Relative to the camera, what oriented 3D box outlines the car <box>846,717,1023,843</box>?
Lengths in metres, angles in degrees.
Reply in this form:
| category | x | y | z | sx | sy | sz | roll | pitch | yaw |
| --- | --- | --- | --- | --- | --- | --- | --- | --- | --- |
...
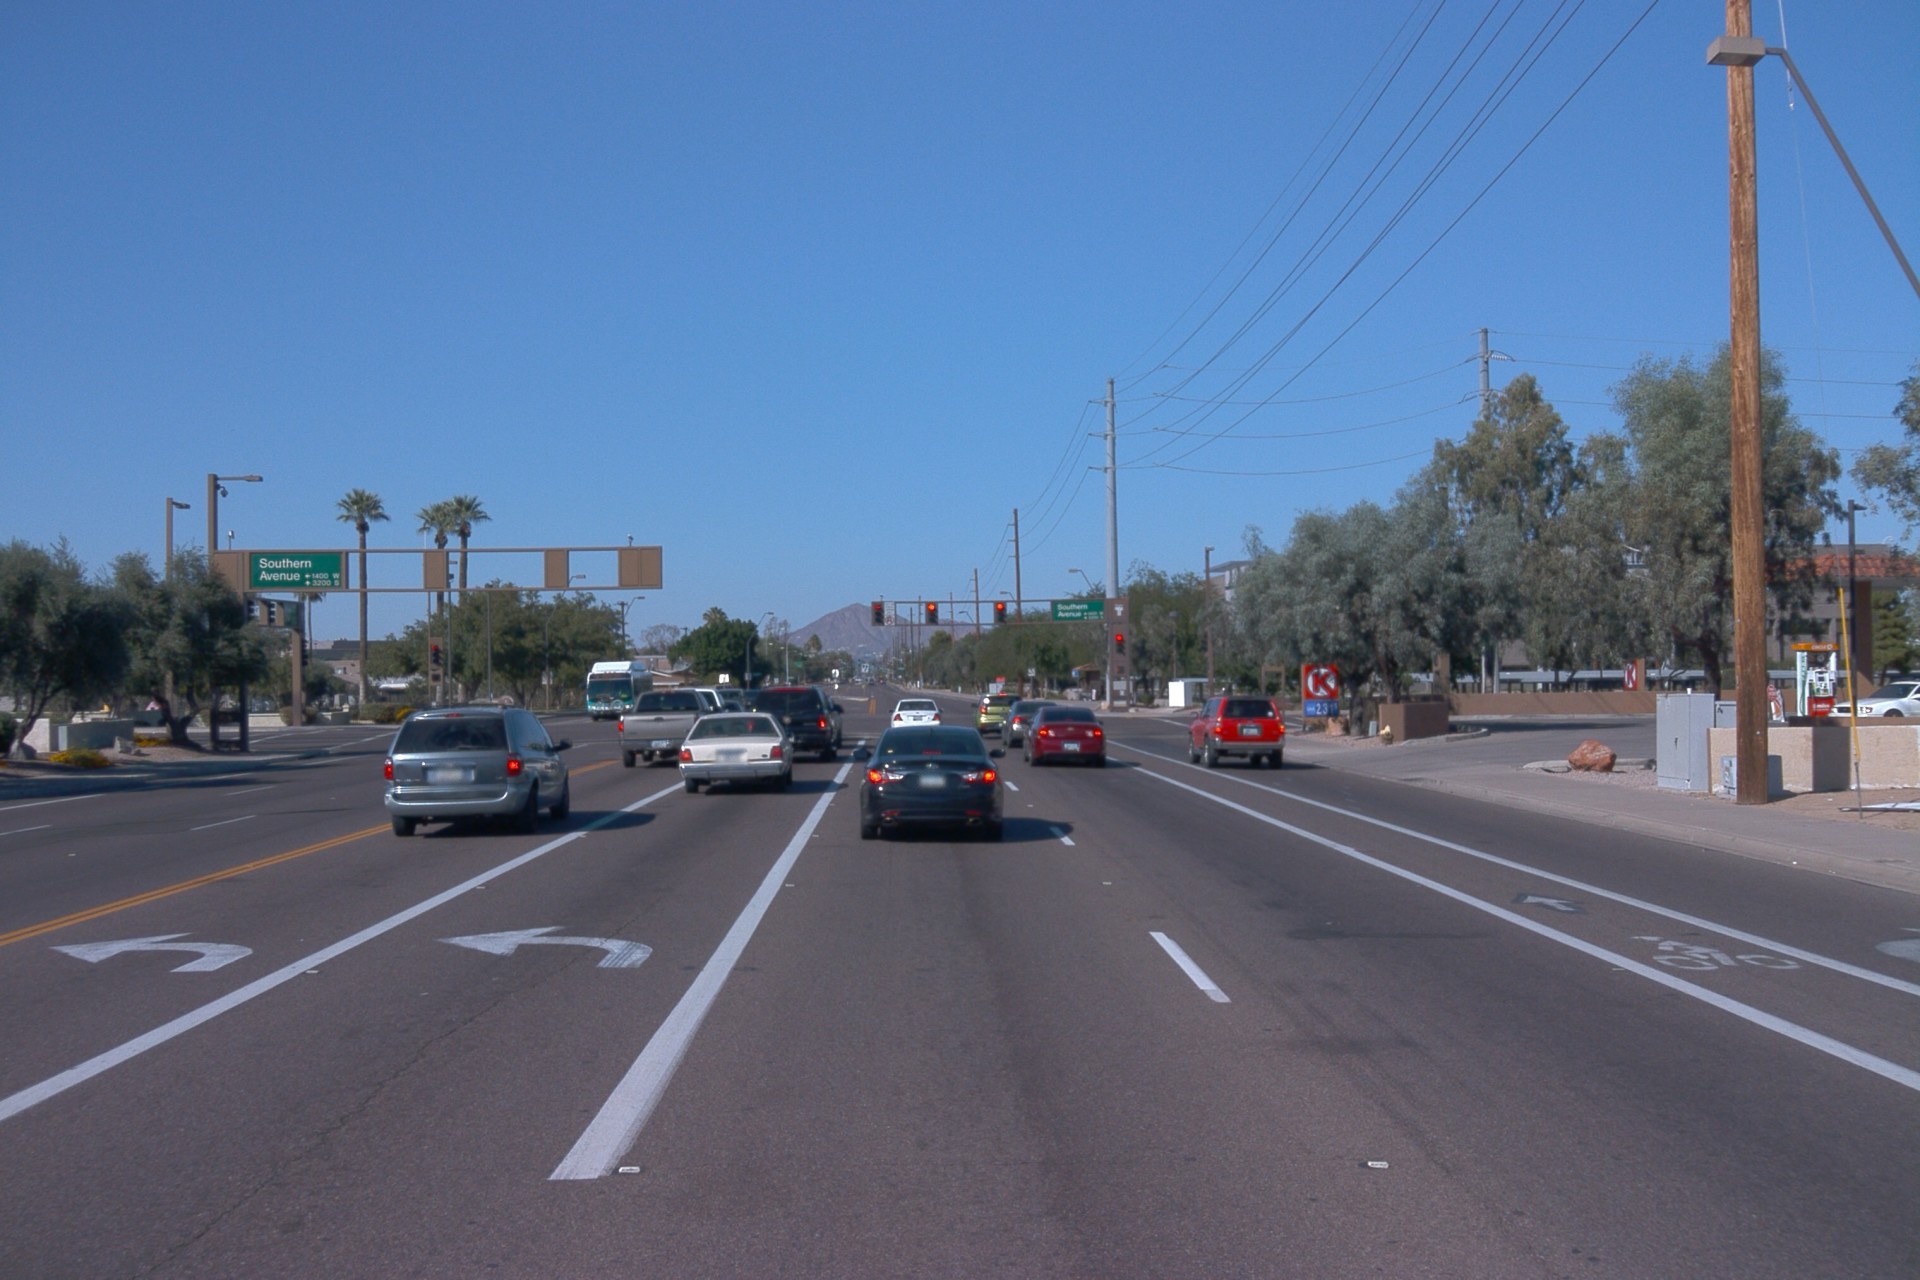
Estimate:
| category | x | y | z | sx | sy | sz | roll | pitch | yaw |
| --- | --- | --- | --- | --- | --- | --- | --- | --- | --- |
| car | -0.373 | 1.811 | 27.867 | 2.156 | 1.470 | 4.806 | 0 | -1 | -1 |

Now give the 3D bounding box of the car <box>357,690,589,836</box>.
| category | x | y | z | sx | sy | sz | roll | pitch | yaw |
| --- | --- | --- | --- | --- | --- | --- | --- | --- | --- |
| car | -6.808 | 1.672 | 29.555 | 2.263 | 1.880 | 4.994 | 0 | -1 | -2 |
